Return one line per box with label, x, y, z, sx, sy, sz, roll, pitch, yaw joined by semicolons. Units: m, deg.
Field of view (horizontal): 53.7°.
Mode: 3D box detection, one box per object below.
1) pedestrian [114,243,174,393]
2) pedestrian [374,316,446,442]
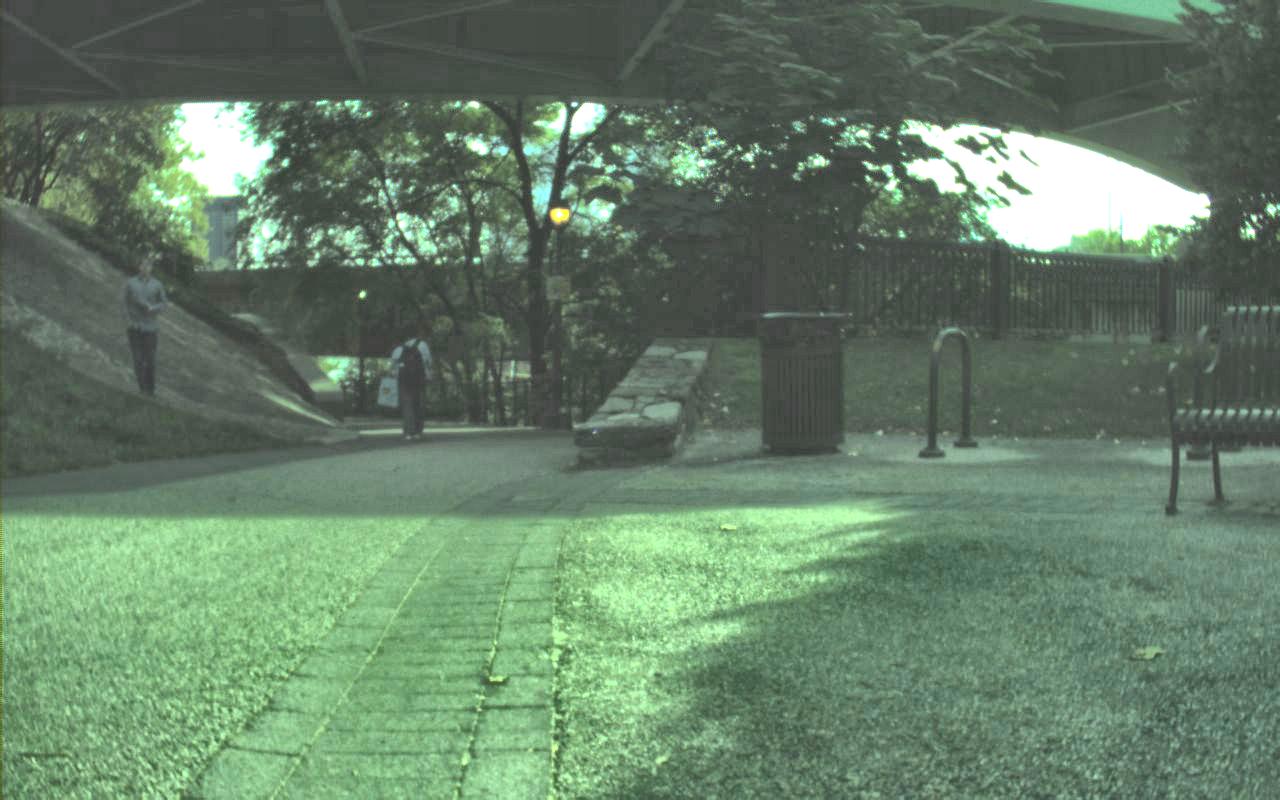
pedestrian;-6.323;-1.001;14.889;0.720;1.856;0.682;0;0;-28
pedestrian;-3.321;-0.299;17.888;0.912;1.751;0.905;0;0;-21
